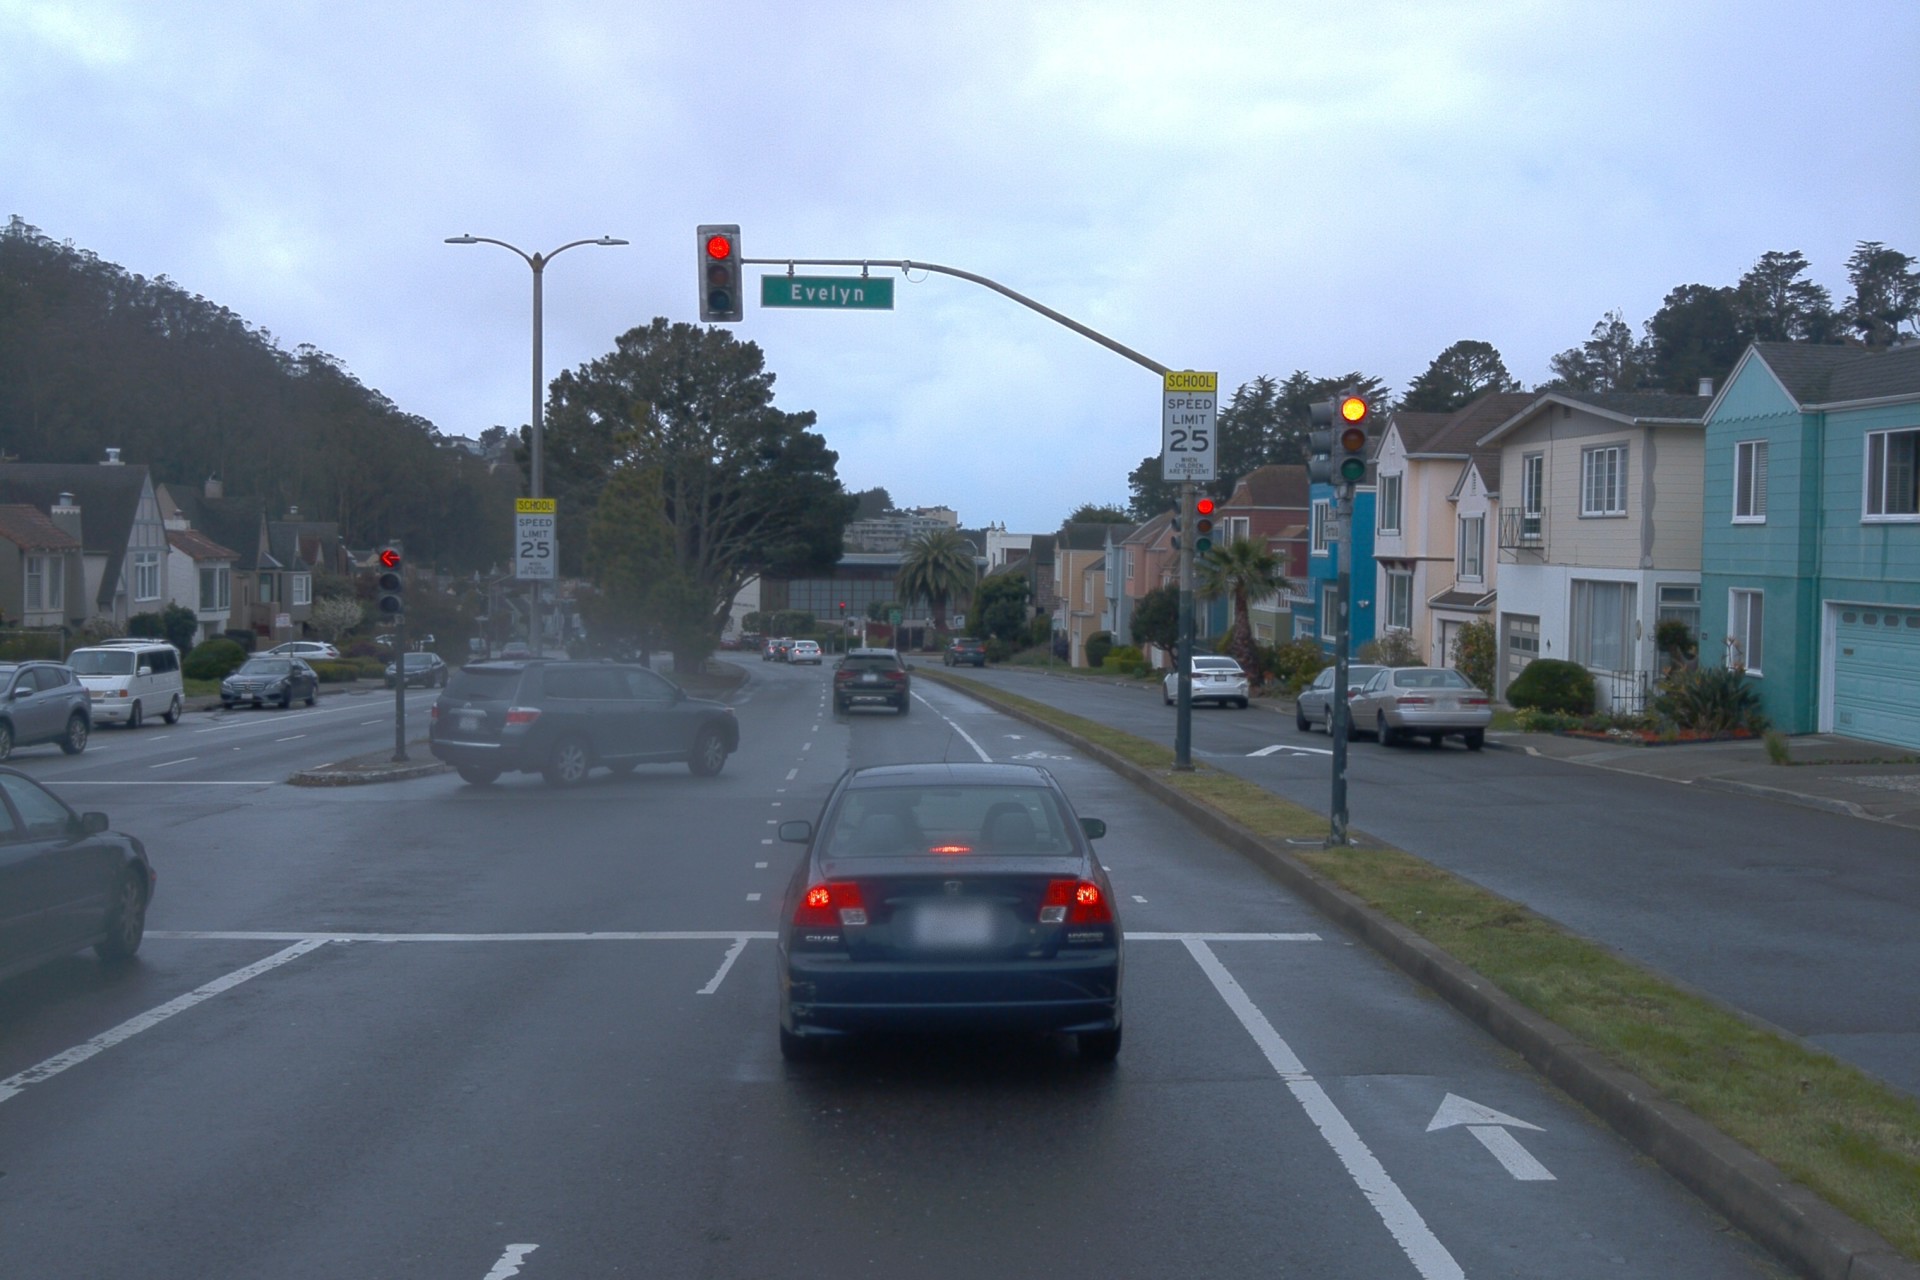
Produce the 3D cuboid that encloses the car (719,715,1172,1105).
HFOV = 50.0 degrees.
[{"bbox_3d":[-0.104,1.267,11.193,2.004,1.570,4.164,0,0,-1],"label":"car"}]

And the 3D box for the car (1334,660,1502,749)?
[{"bbox_3d":[8.089,1.107,36.777,1.755,1.440,4.469,0,0,-4],"label":"car"}]

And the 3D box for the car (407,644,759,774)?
[{"bbox_3d":[-5.182,0.889,28.980,2.116,1.660,4.792,0,0,34],"label":"car"}]
